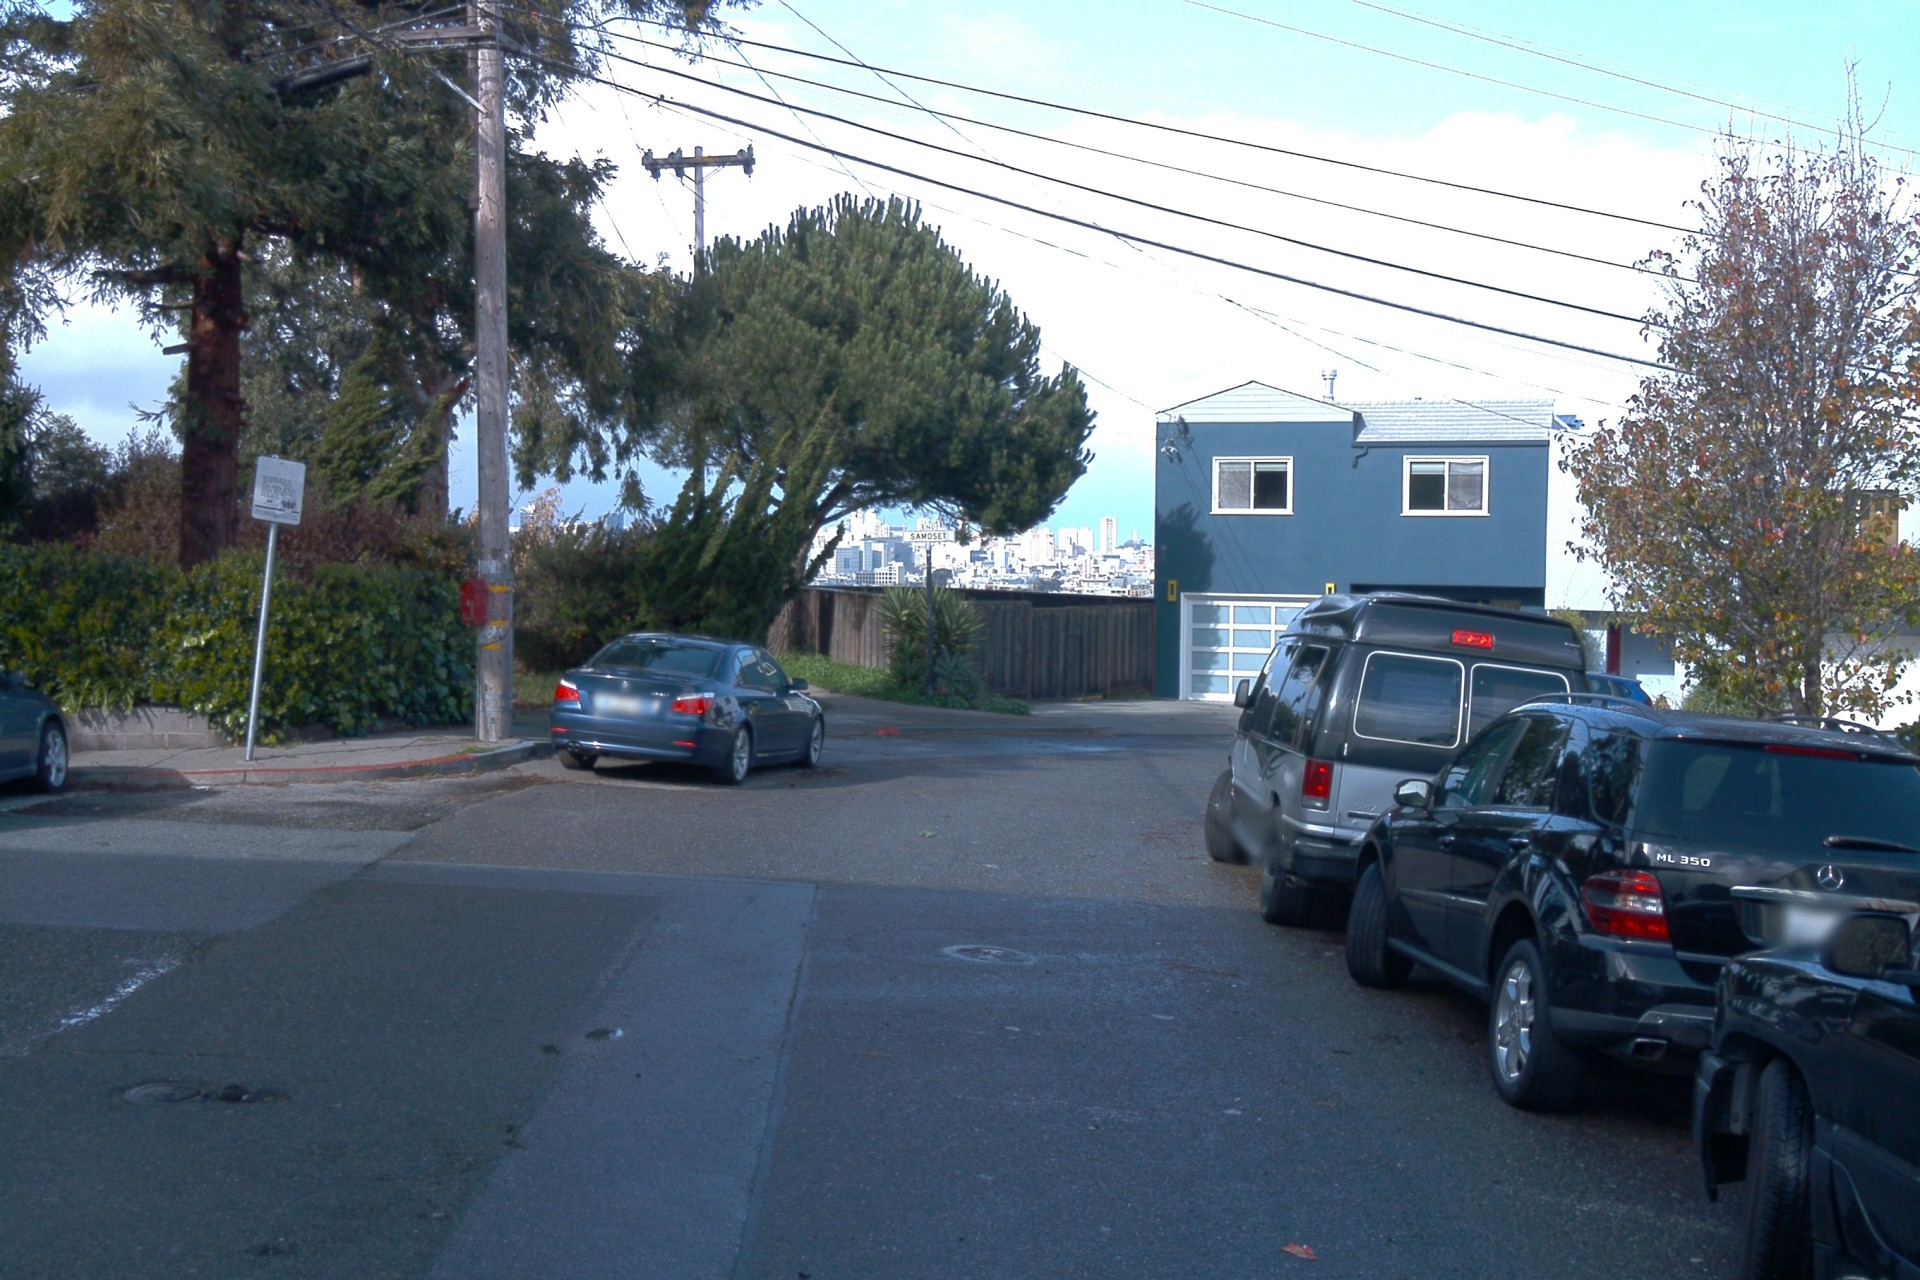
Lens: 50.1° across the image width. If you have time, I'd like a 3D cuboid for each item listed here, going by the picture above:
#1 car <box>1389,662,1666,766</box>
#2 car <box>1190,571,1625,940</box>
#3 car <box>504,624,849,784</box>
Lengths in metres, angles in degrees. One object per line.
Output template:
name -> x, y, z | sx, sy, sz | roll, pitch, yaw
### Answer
car -> 9.322, 1.209, 33.978 | 4.015, 1.560, 1.834 | 1, 1, -3
car -> 3.114, 0.679, 15.674 | 2.287, 2.280, 5.498 | 1, 1, 2
car -> -2.812, 0.578, 21.634 | 2.158, 1.430, 4.595 | 1, 1, 12
